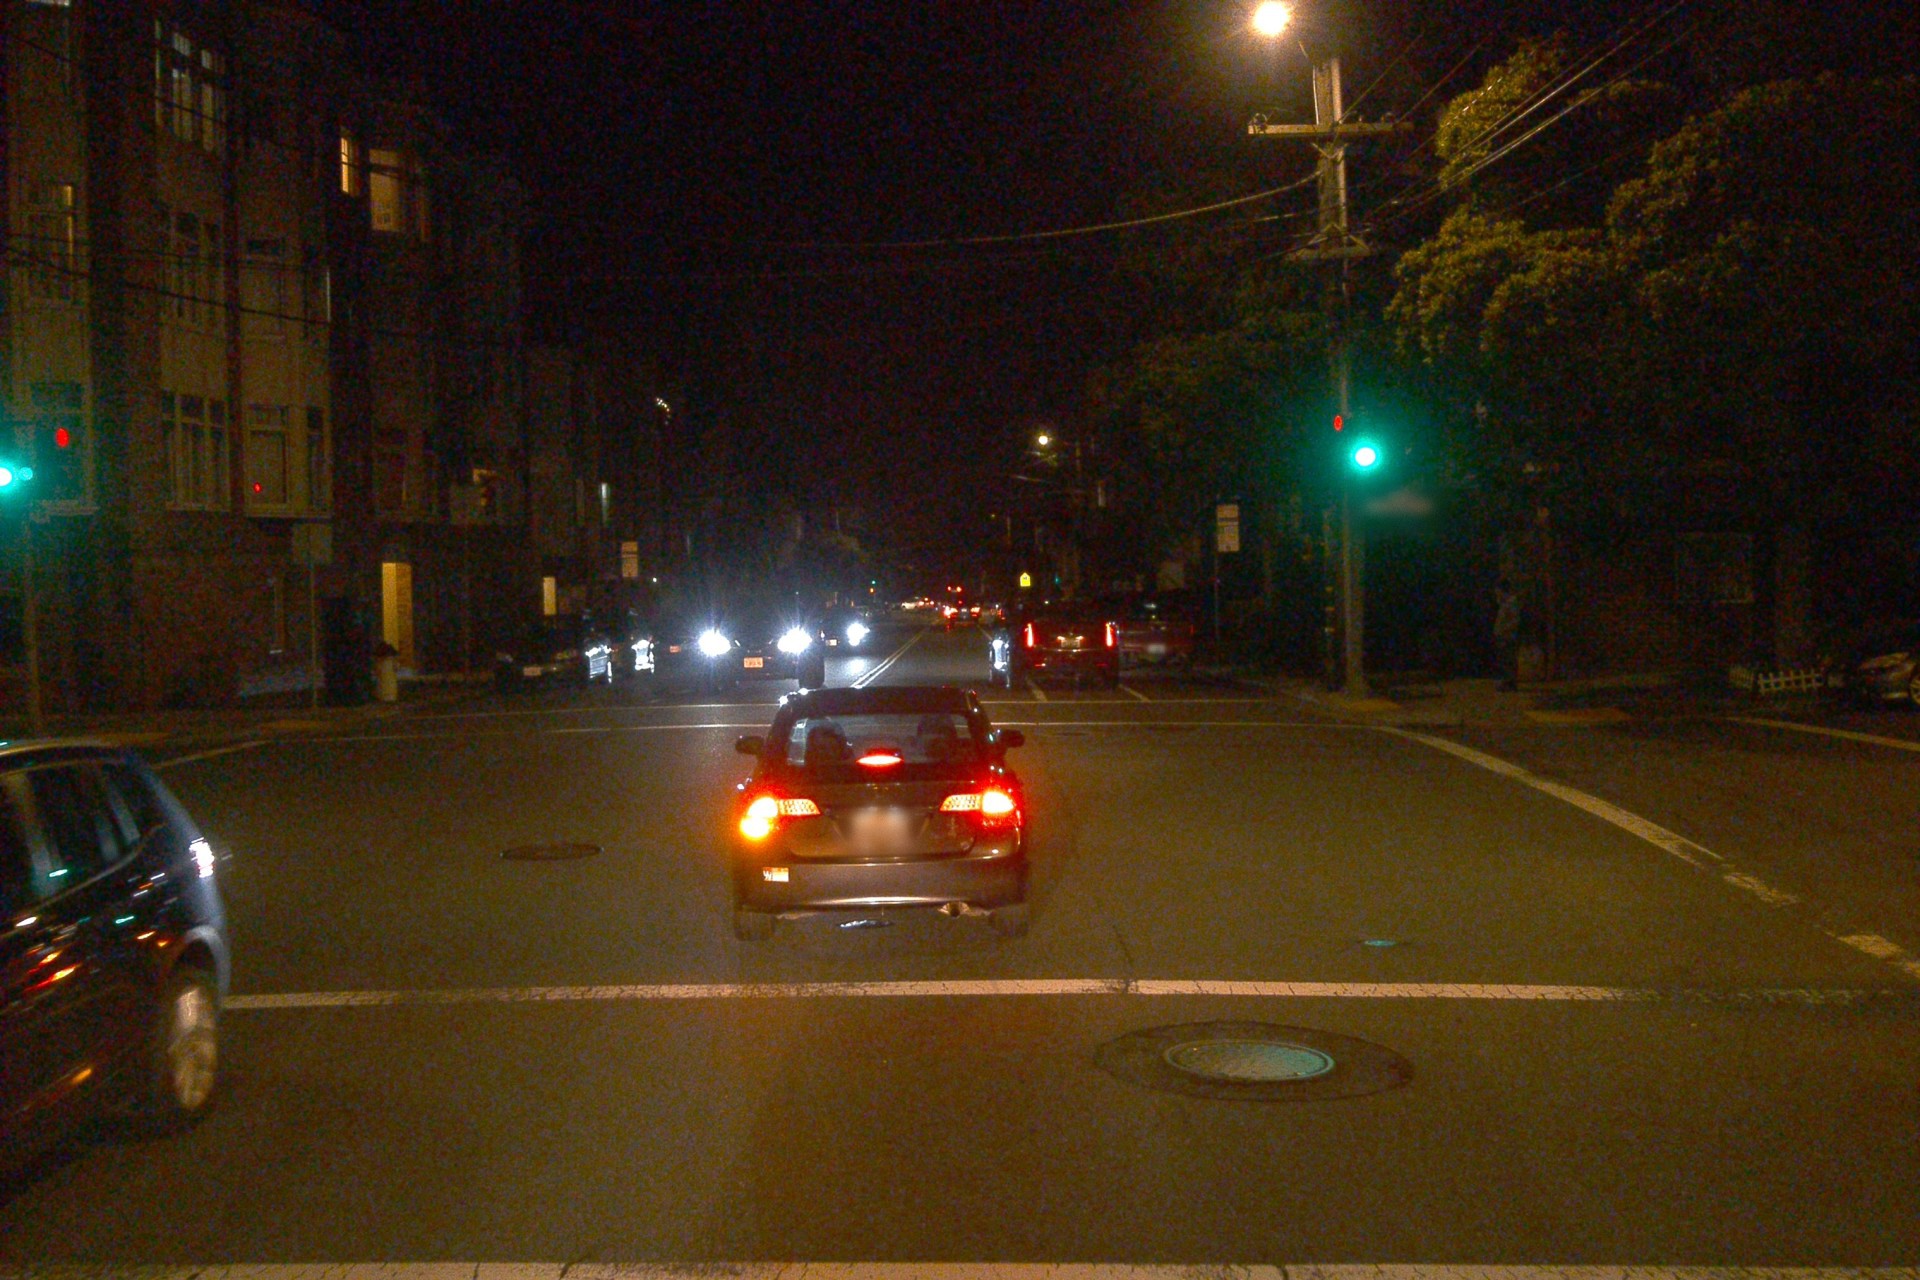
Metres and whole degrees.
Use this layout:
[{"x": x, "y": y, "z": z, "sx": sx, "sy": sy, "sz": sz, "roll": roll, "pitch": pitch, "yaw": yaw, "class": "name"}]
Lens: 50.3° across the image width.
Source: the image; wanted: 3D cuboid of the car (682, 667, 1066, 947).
[{"x": -0.502, "y": 0.936, "z": 13.379, "sx": 2.070, "sy": 1.420, "sz": 4.588, "roll": 0, "pitch": 0, "yaw": -1, "class": "car"}]

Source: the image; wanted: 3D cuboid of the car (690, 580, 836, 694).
[{"x": -3.408, "y": -0.064, "z": 36.160, "sx": 2.065, "sy": 1.870, "sz": 4.608, "roll": 1, "pitch": 0, "yaw": 1, "class": "car"}]

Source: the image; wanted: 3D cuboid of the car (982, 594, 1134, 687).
[{"x": 1.609, "y": -0.002, "z": 35.177, "sx": 2.066, "sy": 1.490, "sz": 4.420, "roll": 0, "pitch": 0, "yaw": -4, "class": "car"}]

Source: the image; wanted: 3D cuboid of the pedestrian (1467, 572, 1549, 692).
[{"x": 7.847, "y": -0.115, "z": 29.315, "sx": 0.936, "sy": 1.691, "sz": 0.623, "roll": 0, "pitch": 0, "yaw": -12, "class": "pedestrian"}]
